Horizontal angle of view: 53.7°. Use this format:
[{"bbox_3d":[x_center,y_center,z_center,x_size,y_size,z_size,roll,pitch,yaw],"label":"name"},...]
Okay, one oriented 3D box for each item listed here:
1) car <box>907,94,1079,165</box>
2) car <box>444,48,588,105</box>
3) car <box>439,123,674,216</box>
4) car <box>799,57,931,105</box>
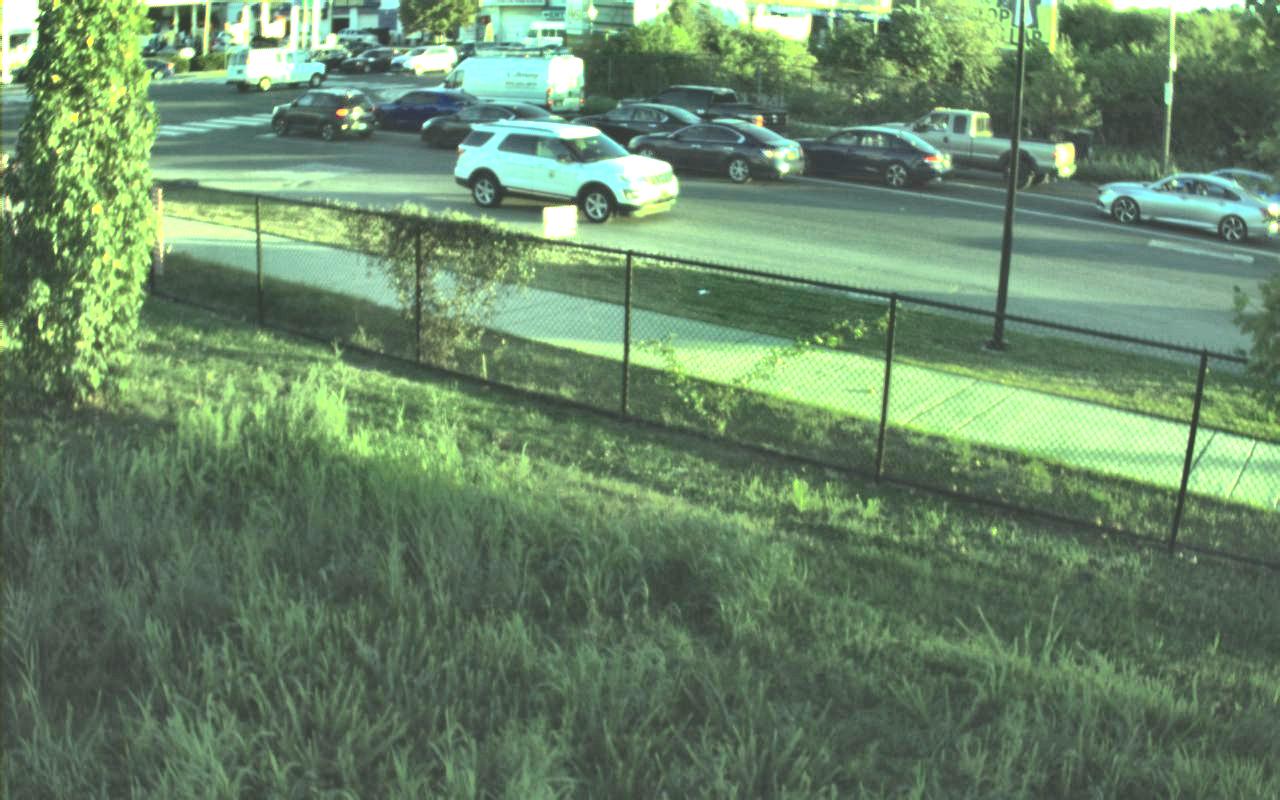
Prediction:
[{"bbox_3d":[10.171,-7.785,34.678,4.686,1.648,2.006,9,19,32],"label":"car"},{"bbox_3d":[-4.460,-11.466,43.789,4.882,1.863,2.096,9,19,32],"label":"car"},{"bbox_3d":[-1.795,-4.866,25.951,4.590,1.597,1.995,9,19,31],"label":"car"},{"bbox_3d":[8.873,-12.583,48.200,4.809,1.726,2.077,9,19,31],"label":"car"}]
